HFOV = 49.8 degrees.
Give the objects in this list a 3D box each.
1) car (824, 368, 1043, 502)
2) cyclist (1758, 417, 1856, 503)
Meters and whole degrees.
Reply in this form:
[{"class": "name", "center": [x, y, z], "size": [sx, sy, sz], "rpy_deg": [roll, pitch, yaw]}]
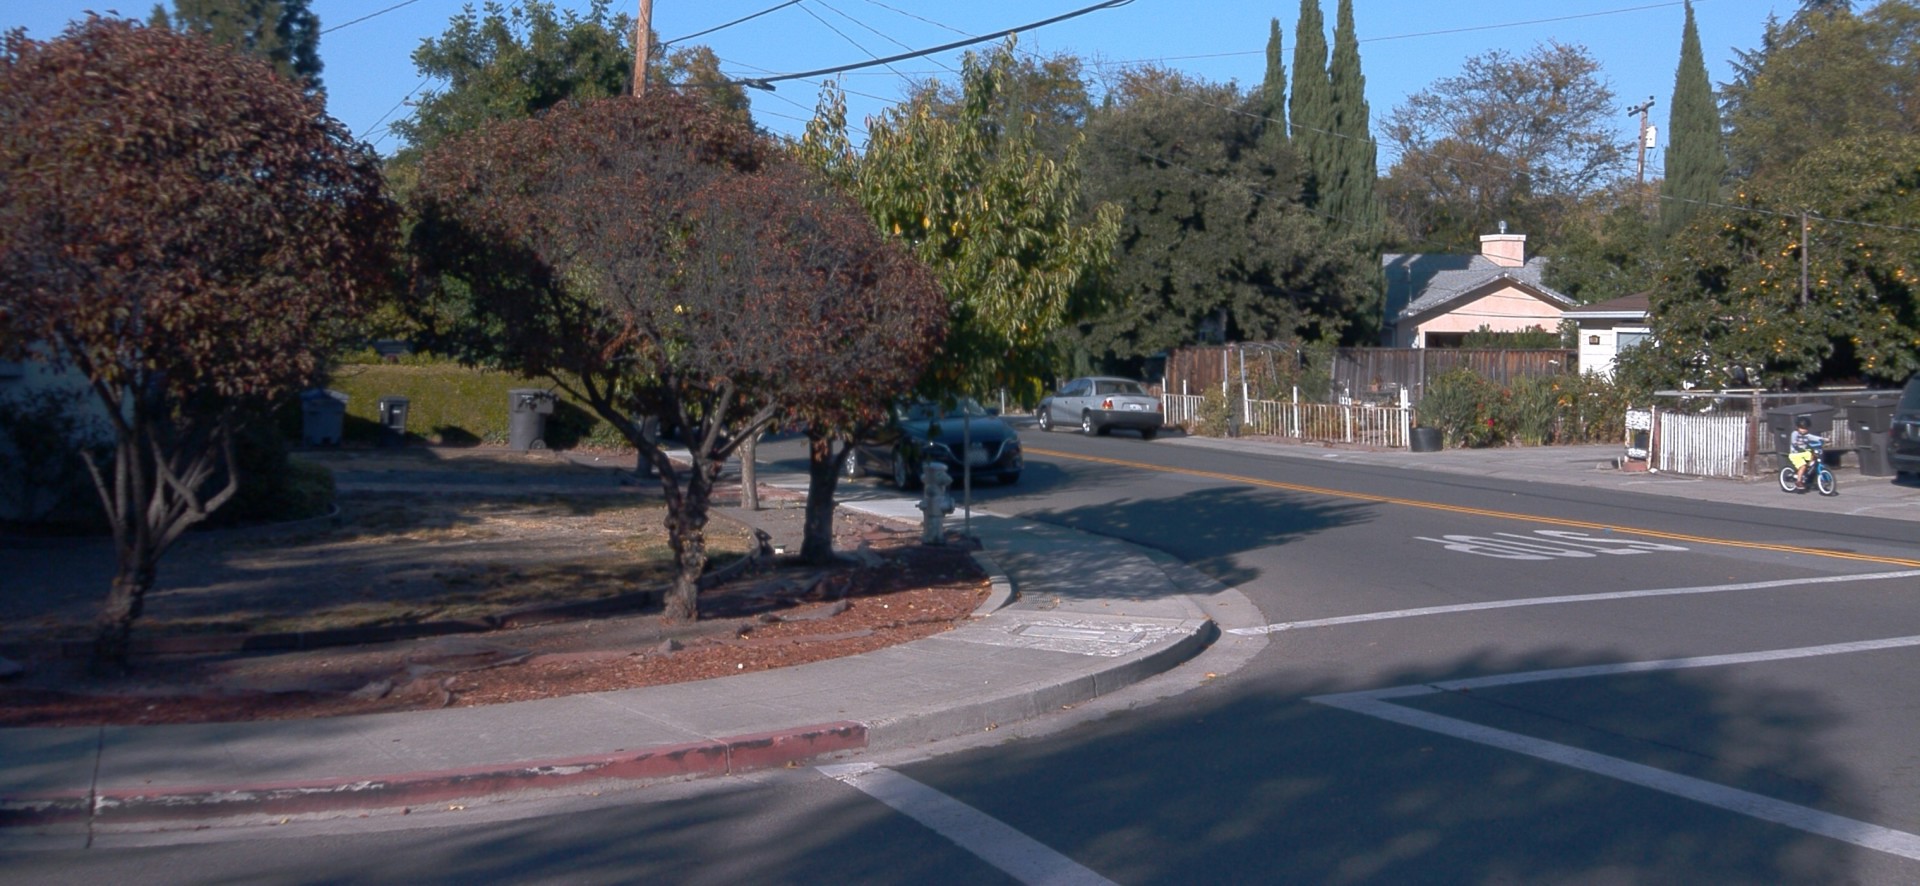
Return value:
[{"class": "car", "center": [-0.504, -0.202, 31.680], "size": [2.032, 1.554, 4.626], "rpy_deg": [-1, 5, -19]}, {"class": "cyclist", "center": [11.829, 0.221, 28.907], "size": [0.646, 1.058, 1.211], "rpy_deg": [0, 4, -16]}]
